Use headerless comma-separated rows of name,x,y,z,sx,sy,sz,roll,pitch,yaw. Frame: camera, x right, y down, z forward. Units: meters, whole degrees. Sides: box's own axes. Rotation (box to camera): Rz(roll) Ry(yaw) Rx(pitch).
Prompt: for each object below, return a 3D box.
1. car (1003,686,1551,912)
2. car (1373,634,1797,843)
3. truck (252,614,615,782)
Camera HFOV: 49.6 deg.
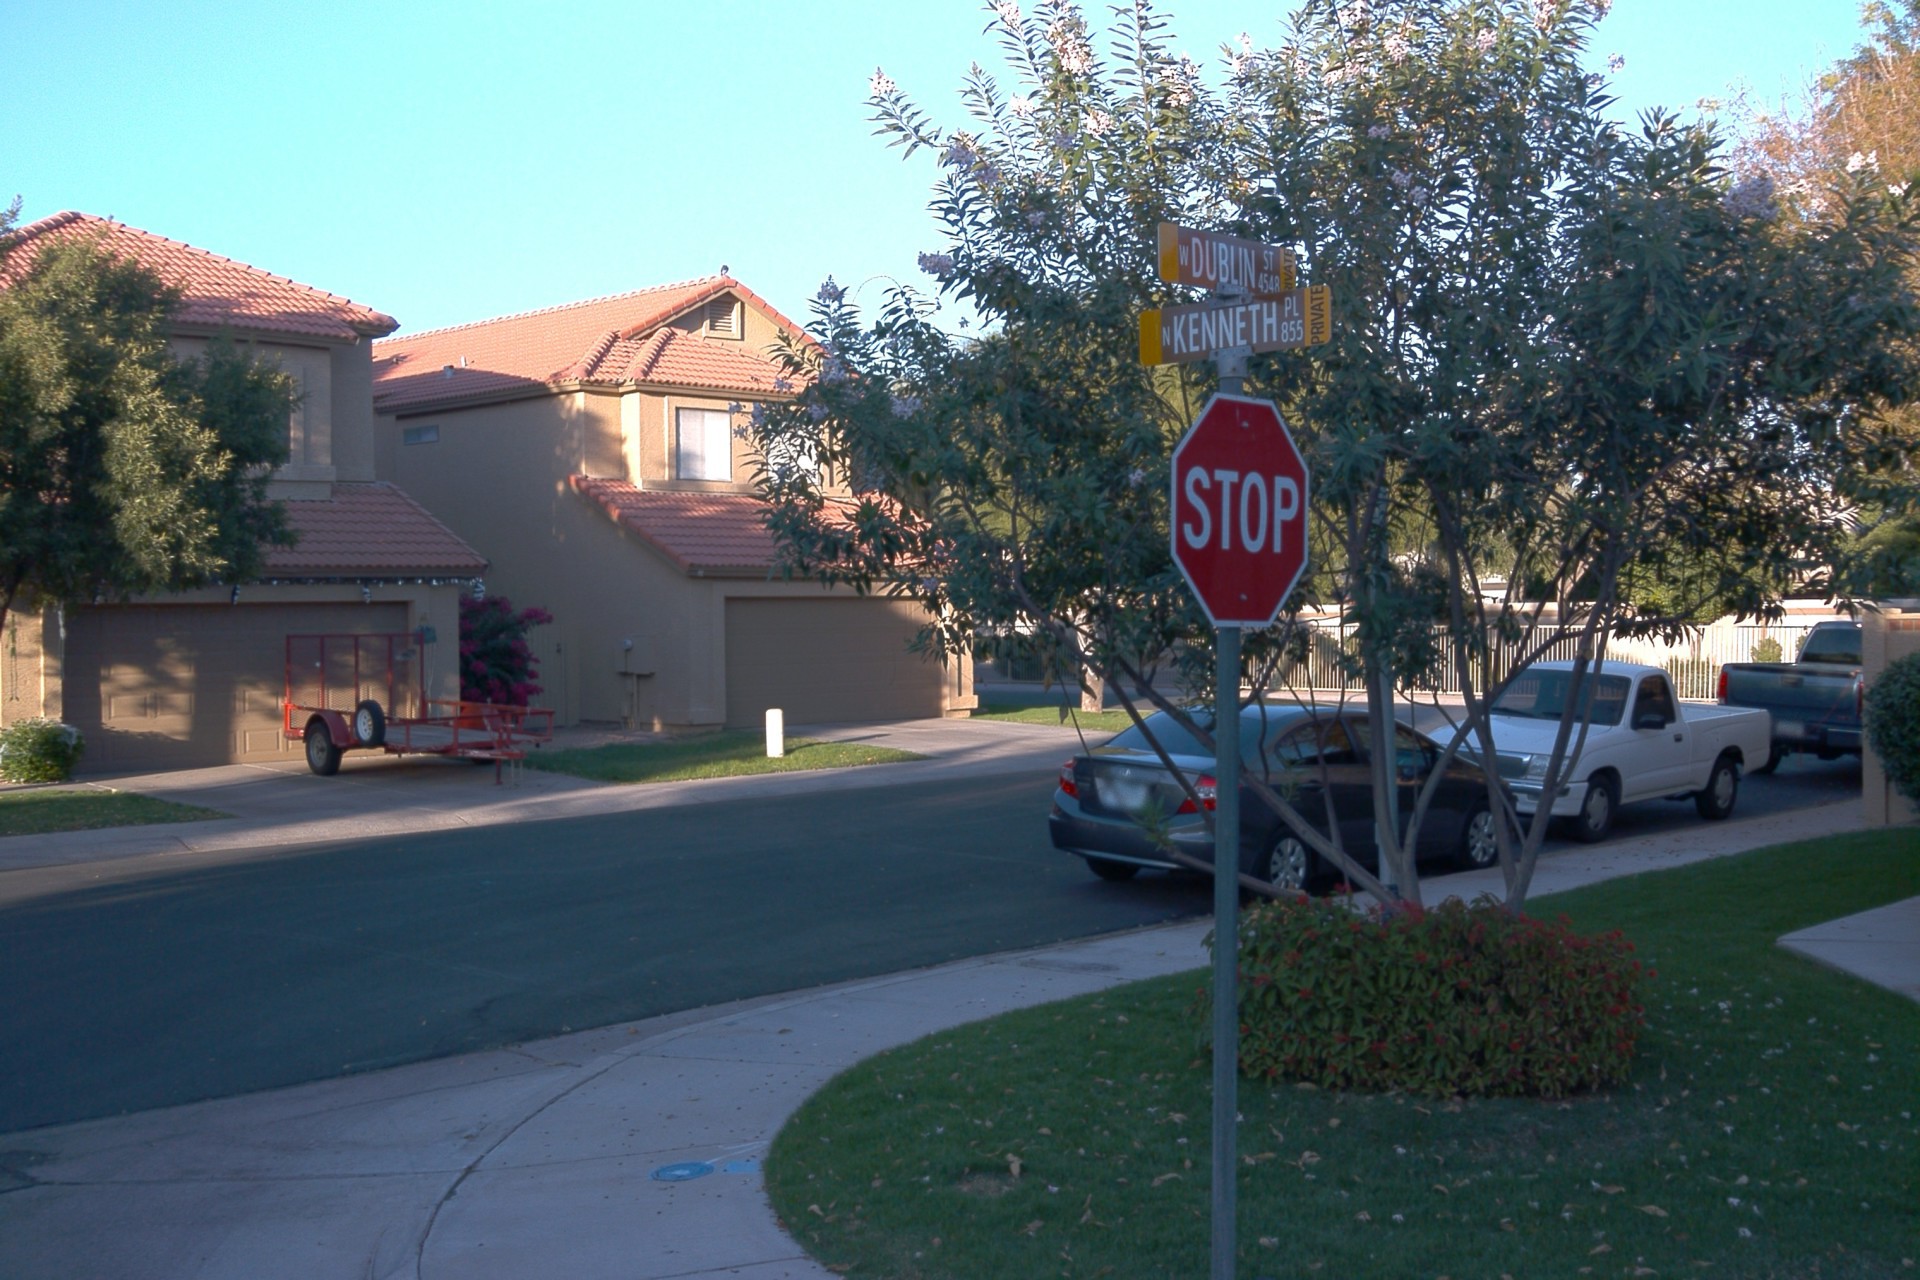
car,2.614,1.126,16.364,2.054,1.470,4.462,0,-1,44
car,6.197,0.870,20.271,2.021,1.800,4.702,0,-1,44
truck,-6.650,0.675,25.998,2.622,1.900,4.348,1,-1,-43
